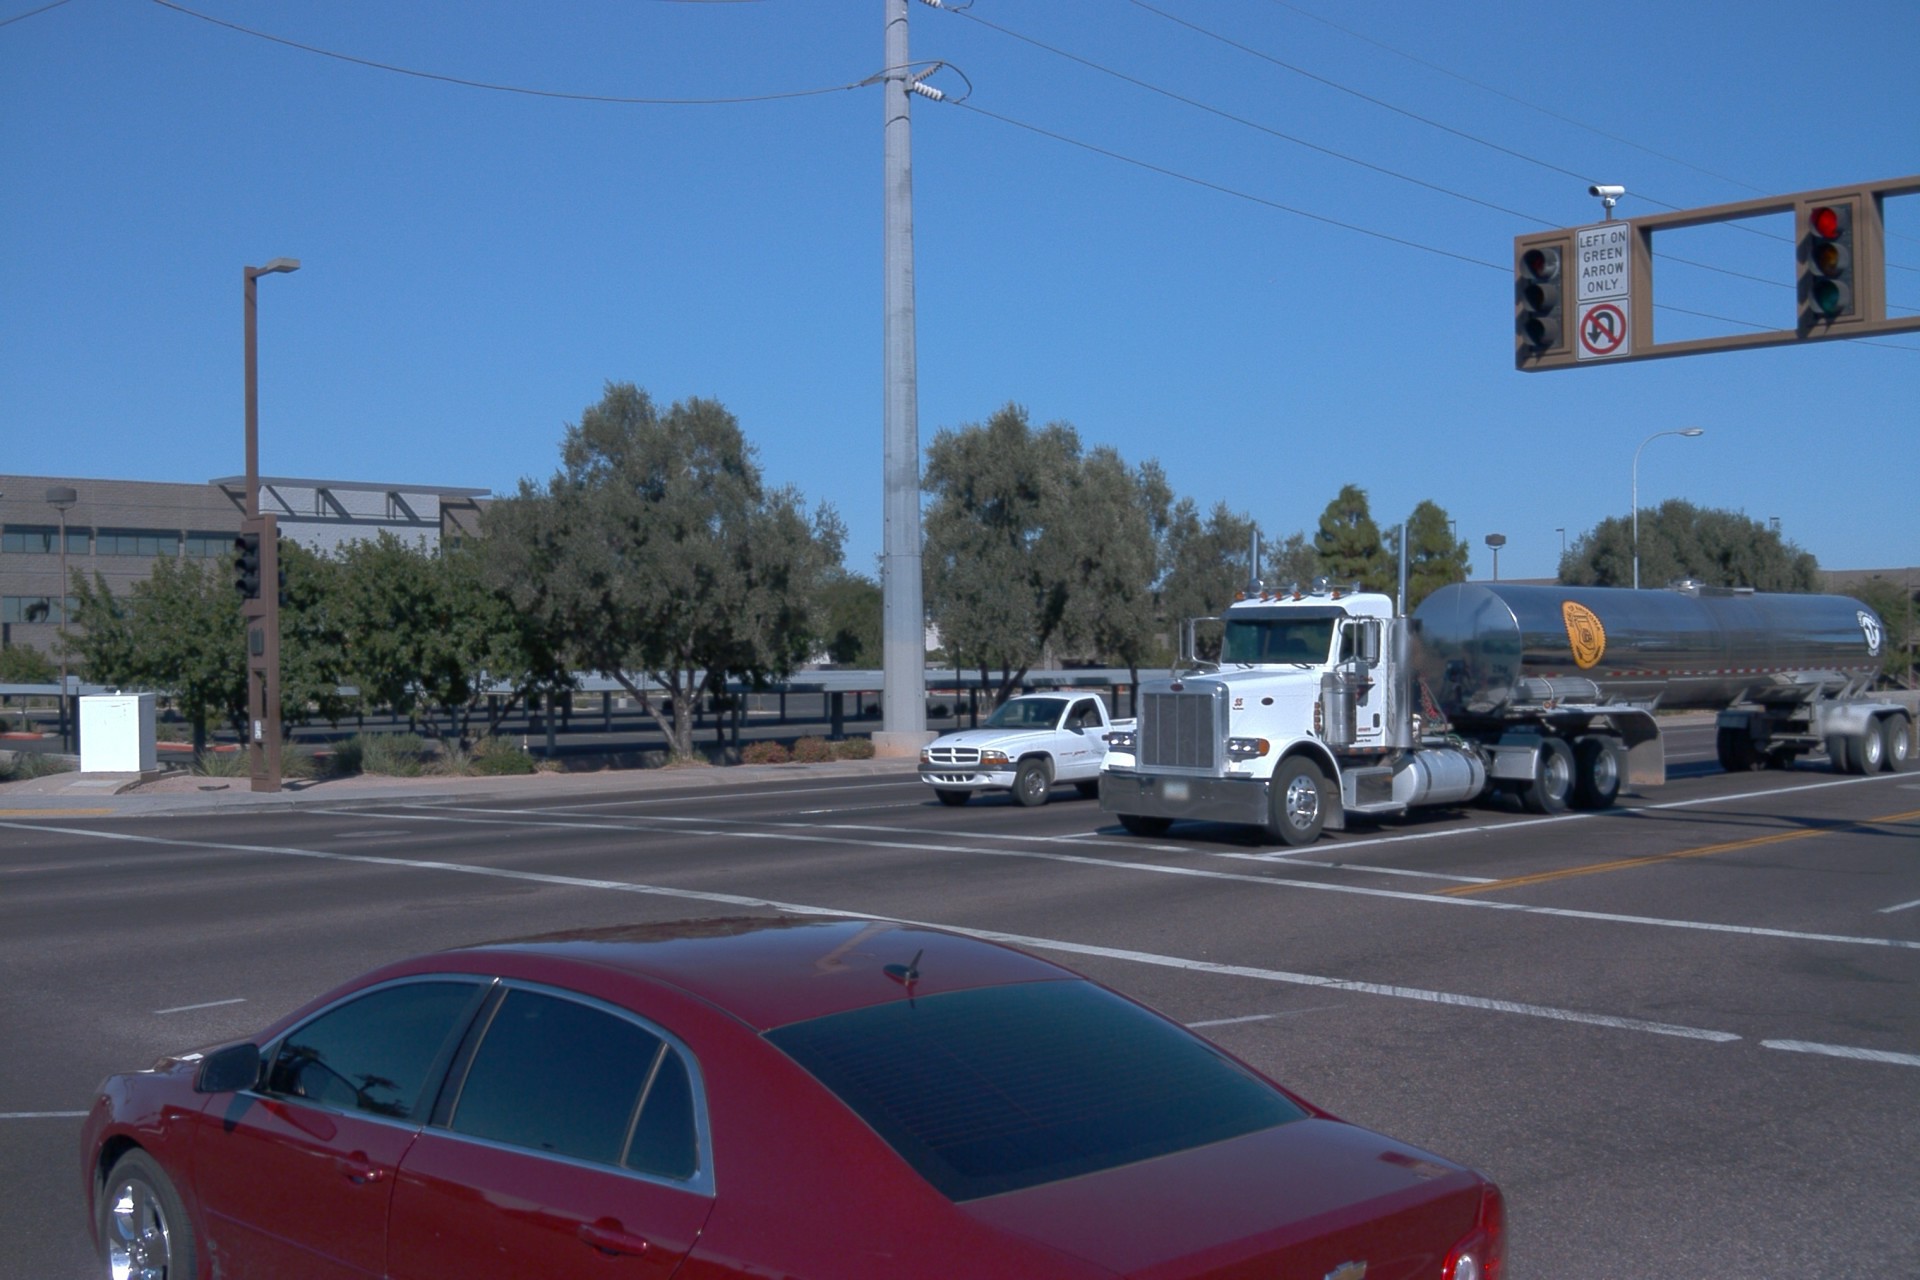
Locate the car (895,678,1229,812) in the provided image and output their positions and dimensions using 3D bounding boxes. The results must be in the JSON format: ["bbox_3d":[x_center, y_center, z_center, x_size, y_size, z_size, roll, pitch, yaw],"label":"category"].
[{"bbox_3d":[1.661,1.523,31.935,2.048,1.860,5.382,0,-1,45],"label":"car"}]

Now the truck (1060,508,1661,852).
[{"bbox_3d":[5.298,0.479,26.092,3.179,3.610,8.600,0,-1,44],"label":"truck"}]
